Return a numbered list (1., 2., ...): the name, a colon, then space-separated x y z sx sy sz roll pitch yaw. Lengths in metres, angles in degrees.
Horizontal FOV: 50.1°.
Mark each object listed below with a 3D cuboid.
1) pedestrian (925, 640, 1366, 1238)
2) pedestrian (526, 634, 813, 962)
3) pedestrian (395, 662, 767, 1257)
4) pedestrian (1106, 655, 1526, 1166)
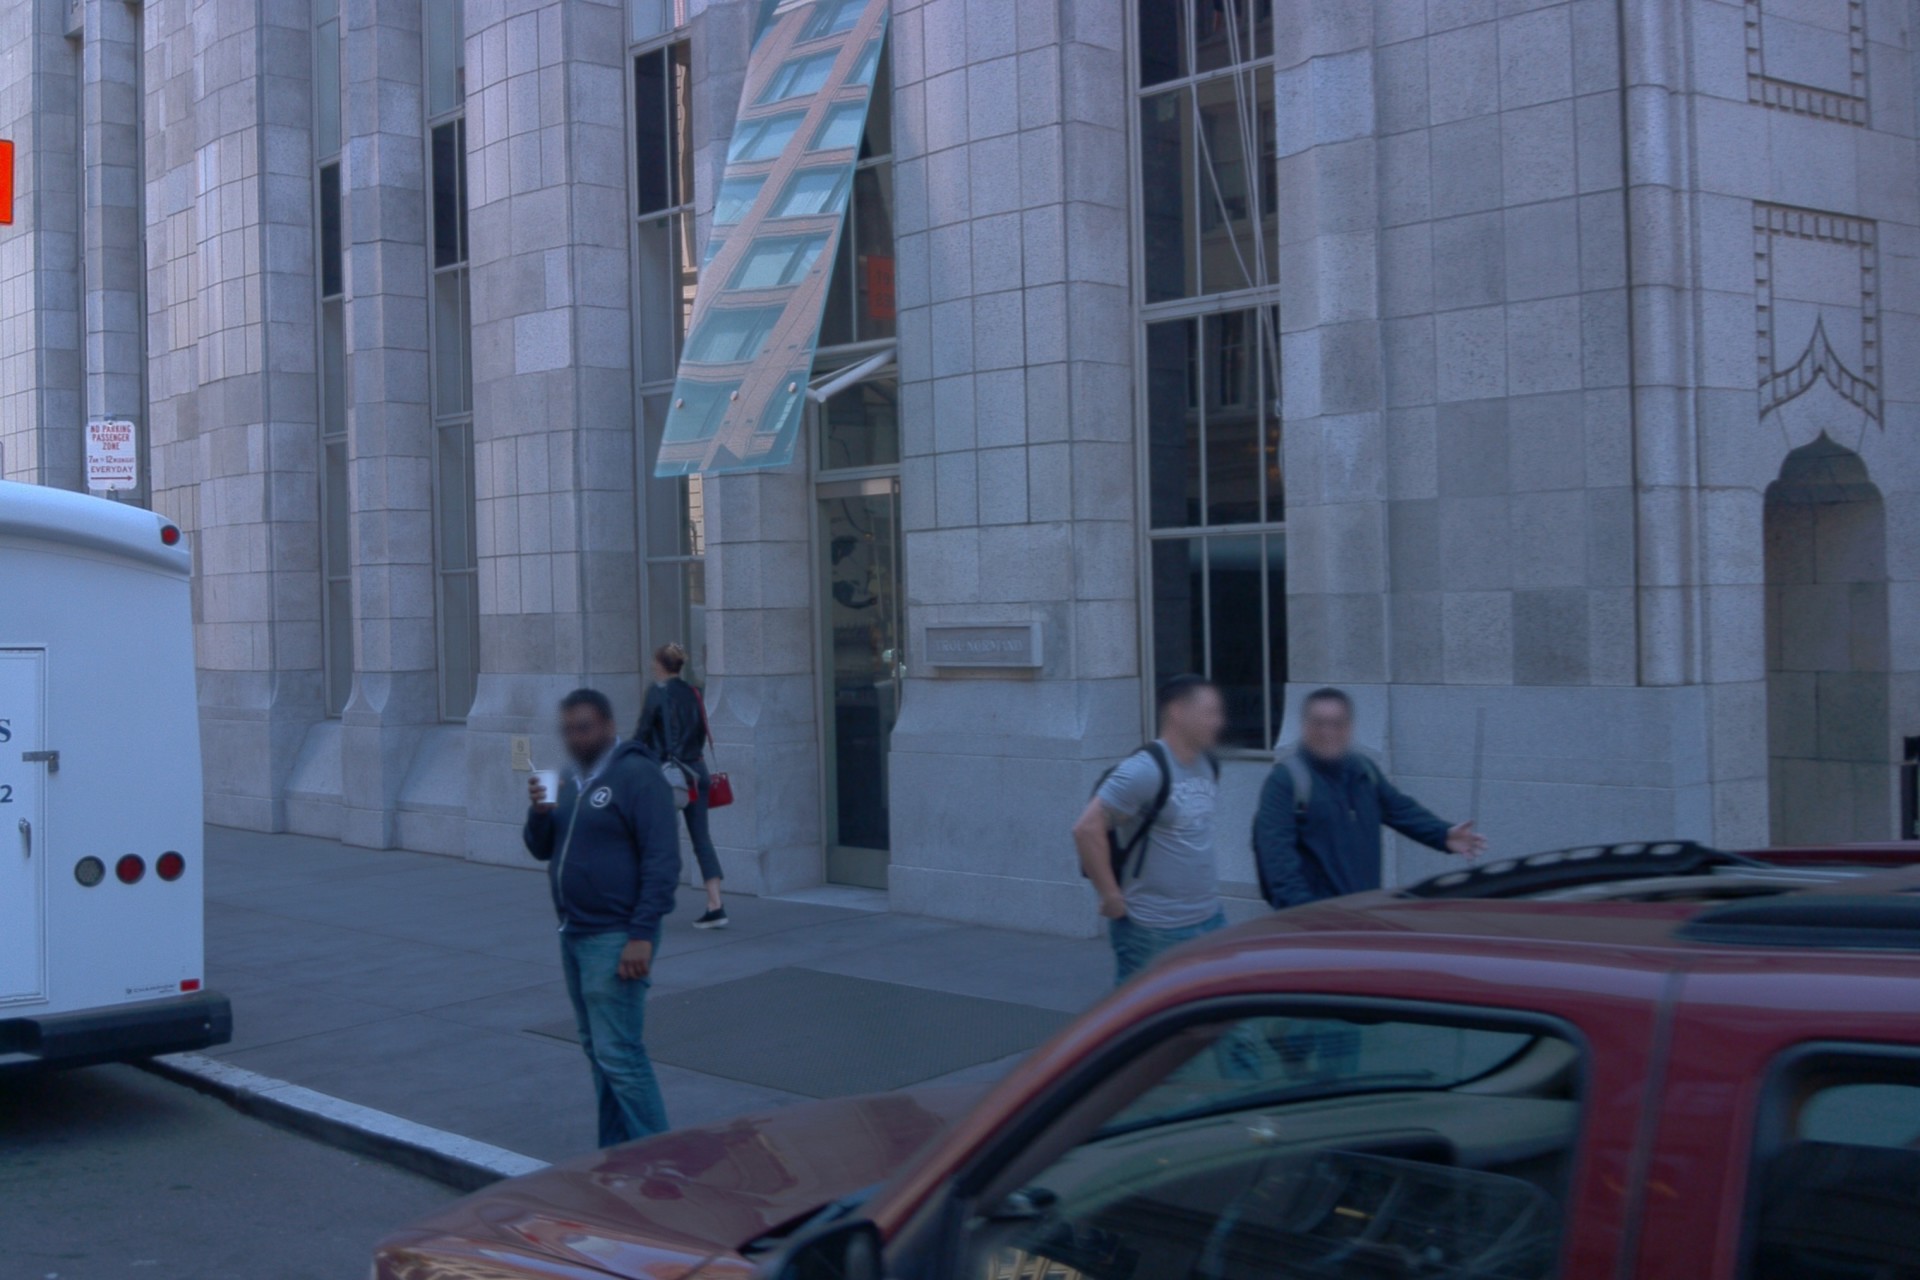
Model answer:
1. pedestrian: 0.645 0.947 7.273 0.961 1.876 1.219 0 0 -43
2. pedestrian: -1.778 0.899 12.575 1.324 1.856 1.147 0 0 41
3. pedestrian: -1.320 1.032 7.231 0.892 1.886 0.922 0 0 34
4. pedestrian: 1.329 0.923 7.737 0.961 1.706 1.219 0 0 -43
